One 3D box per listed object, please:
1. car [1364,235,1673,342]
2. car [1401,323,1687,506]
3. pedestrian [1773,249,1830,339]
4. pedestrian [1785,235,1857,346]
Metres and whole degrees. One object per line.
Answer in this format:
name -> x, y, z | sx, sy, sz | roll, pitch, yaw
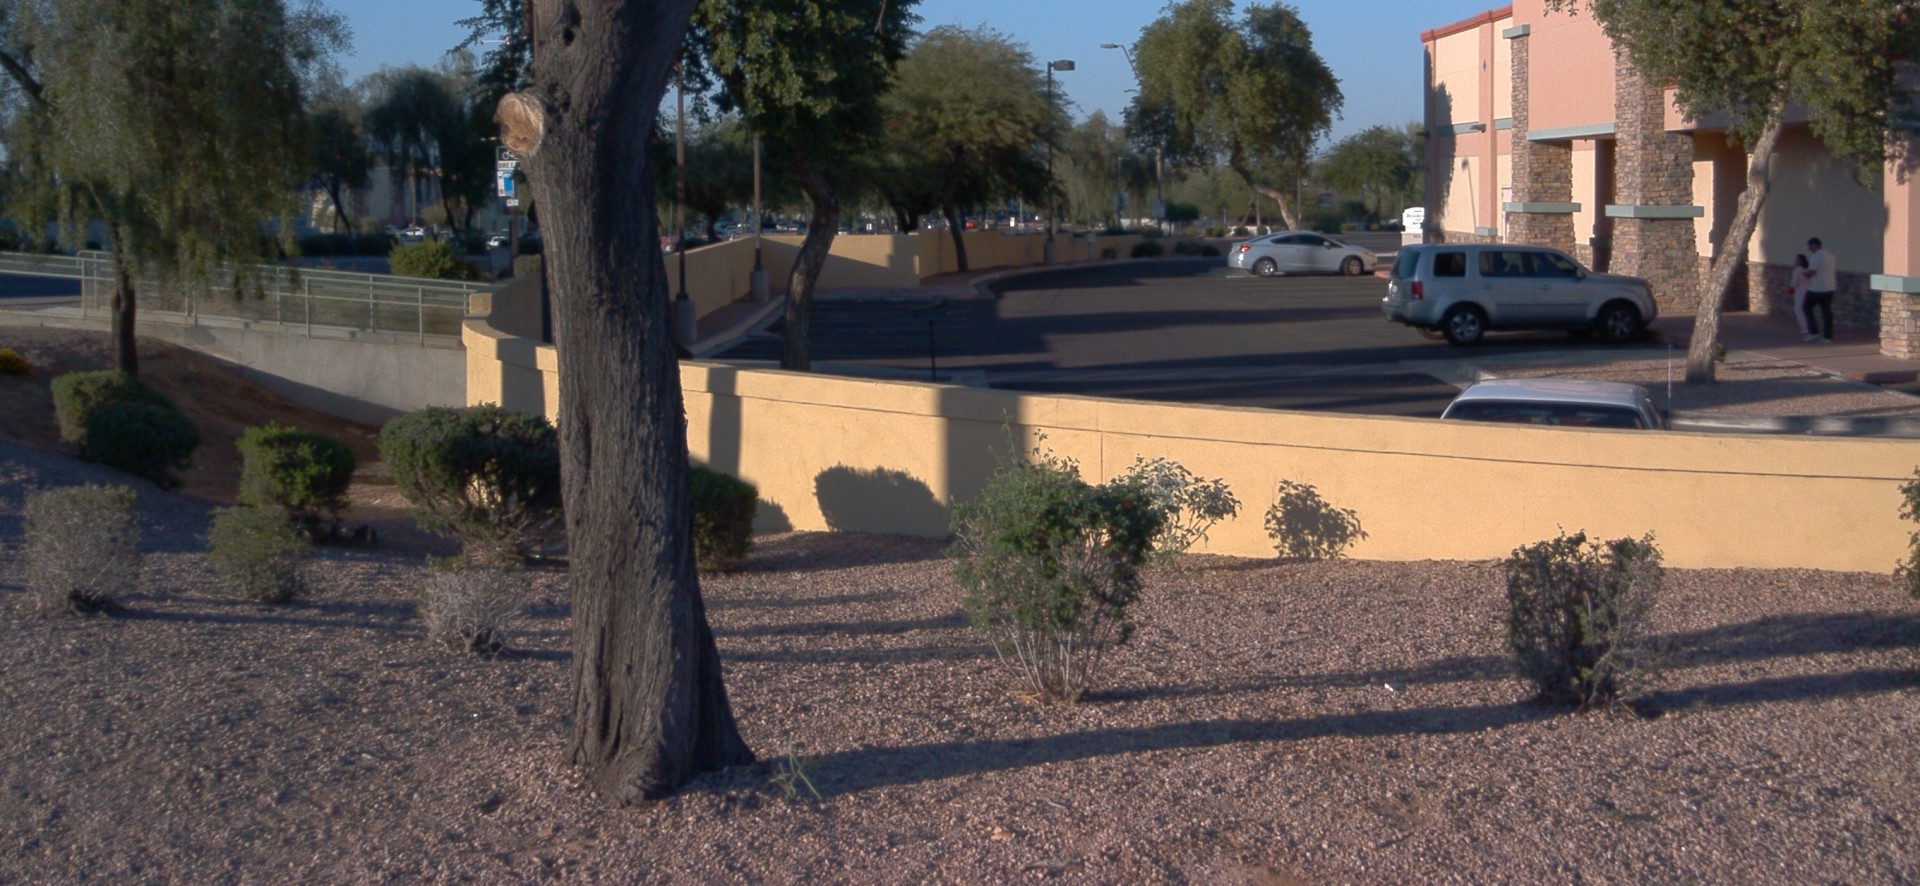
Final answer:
car -> 10.020, -2.829, 37.446 | 4.991, 1.846, 2.164 | -1, 4, -6
car -> 4.840, -0.326, 16.823 | 1.917, 1.095, 3.965 | 2, 6, 20
pedestrian -> 14.327, -2.551, 35.330 | 0.634, 1.499, 0.651 | 0, 1, -24
pedestrian -> 14.278, -2.543, 34.424 | 0.749, 1.802, 0.825 | -1, 1, -28
